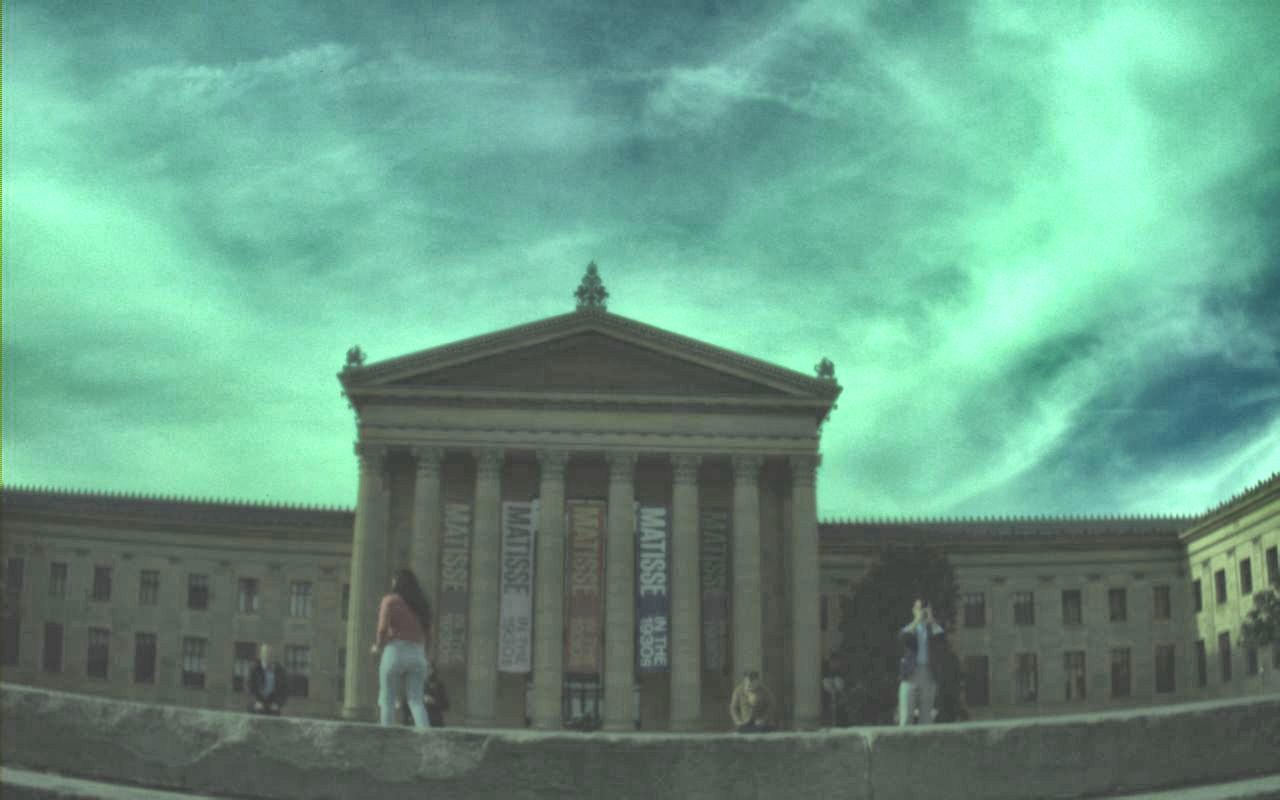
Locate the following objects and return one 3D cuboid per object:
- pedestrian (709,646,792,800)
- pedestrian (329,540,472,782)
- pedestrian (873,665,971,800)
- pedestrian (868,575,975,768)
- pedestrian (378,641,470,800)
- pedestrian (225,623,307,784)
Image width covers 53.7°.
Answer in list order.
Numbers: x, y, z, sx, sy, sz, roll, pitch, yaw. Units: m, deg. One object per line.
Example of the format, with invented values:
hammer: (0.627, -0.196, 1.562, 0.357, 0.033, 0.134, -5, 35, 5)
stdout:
pedestrian: (1.228, 3.682, 13.780, 0.821, 1.681, 0.821, 0, 0, 0)
pedestrian: (-1.899, 2.055, 9.657, 0.787, 1.762, 0.802, 1, 0, 24)
pedestrian: (3.267, 3.962, 13.812, 0.837, 1.570, 0.881, 1, 0, 29)
pedestrian: (2.818, 2.733, 12.170, 0.786, 1.805, 0.774, 0, 0, -8)
pedestrian: (-2.449, 3.689, 13.720, 0.846, 1.720, 0.868, 0, 0, 2)
pedestrian: (-4.302, 3.502, 13.448, 0.827, 1.743, 0.822, 0, 0, -18)
